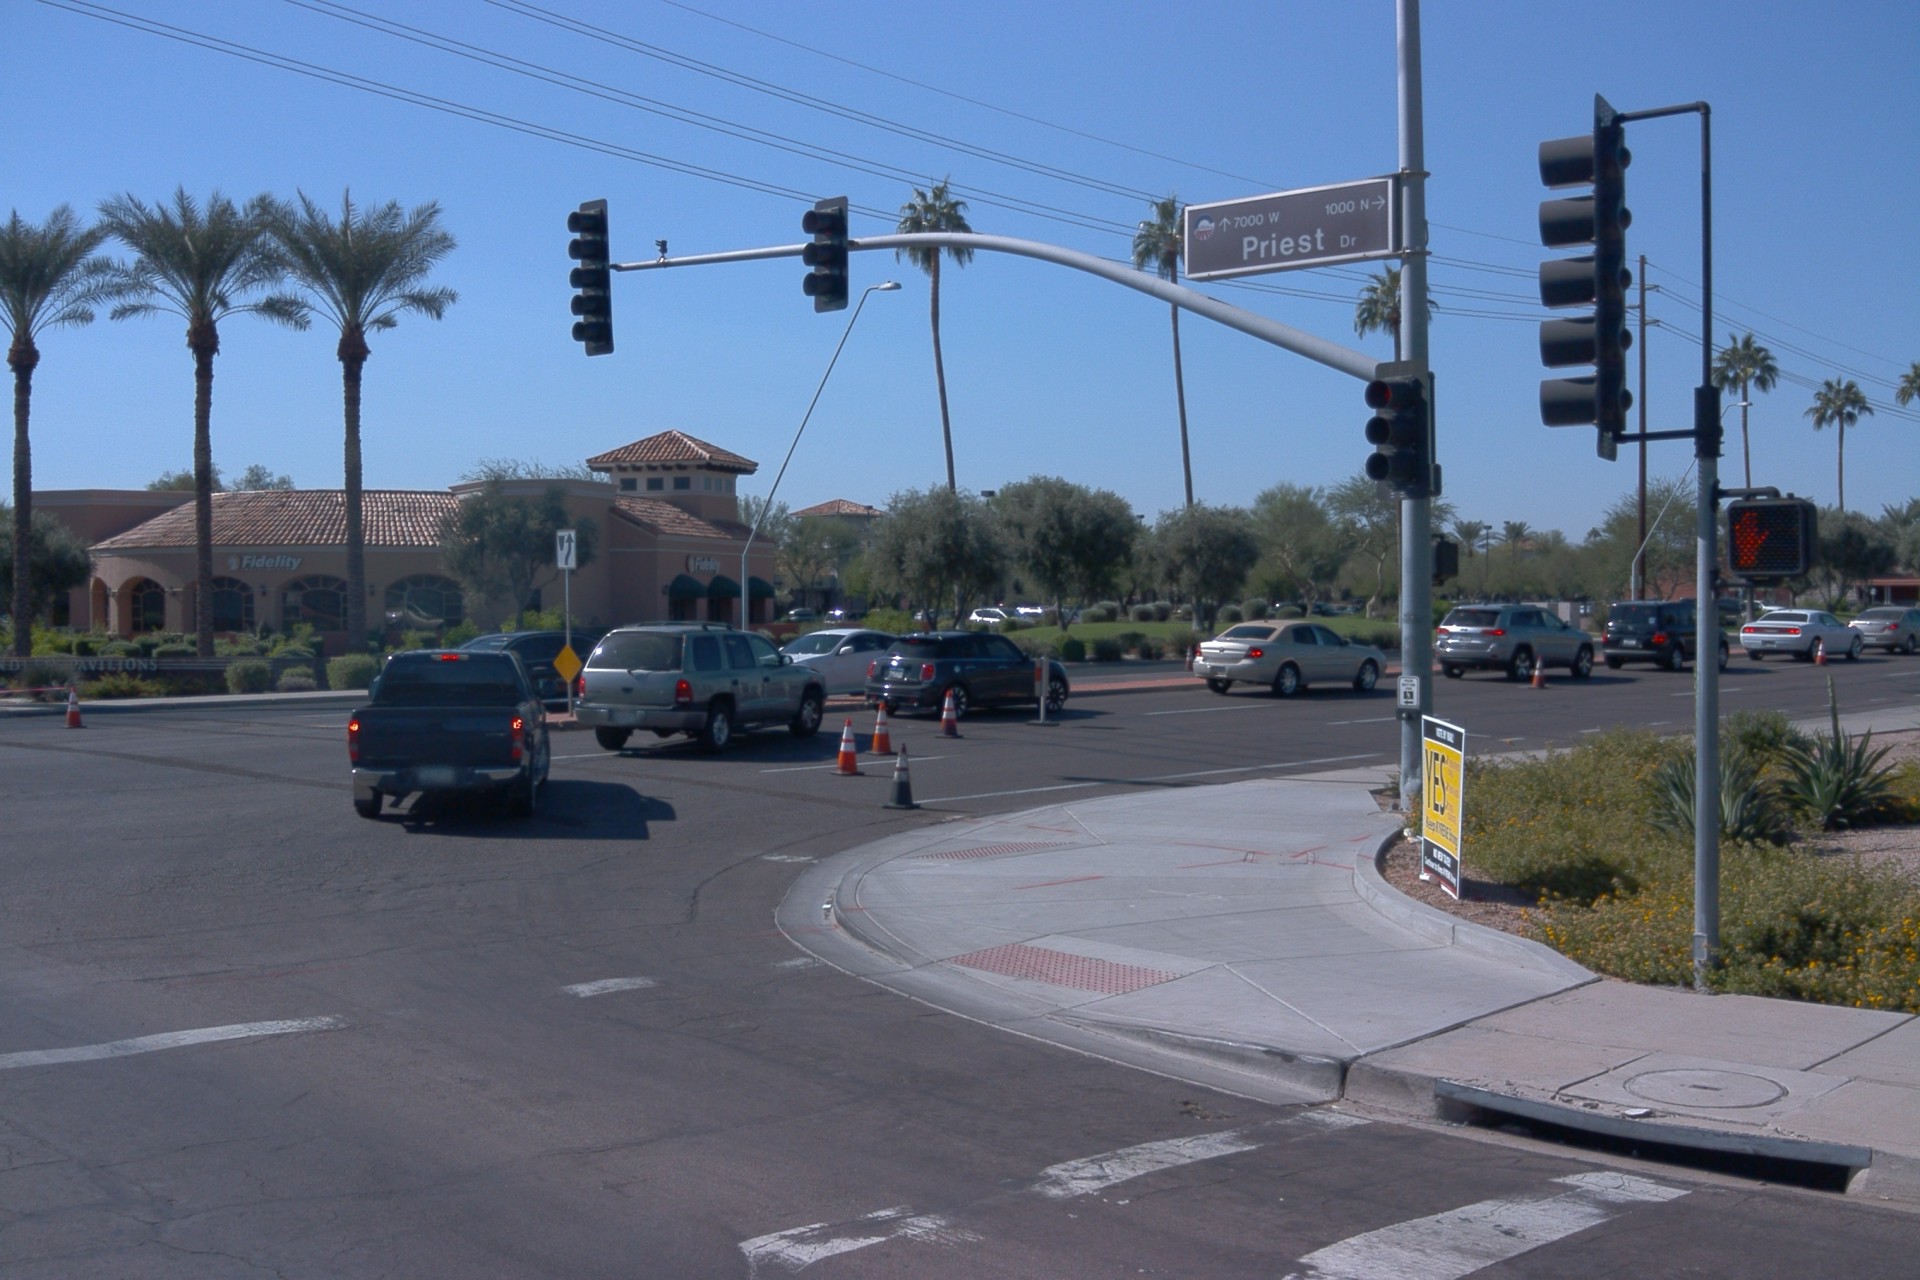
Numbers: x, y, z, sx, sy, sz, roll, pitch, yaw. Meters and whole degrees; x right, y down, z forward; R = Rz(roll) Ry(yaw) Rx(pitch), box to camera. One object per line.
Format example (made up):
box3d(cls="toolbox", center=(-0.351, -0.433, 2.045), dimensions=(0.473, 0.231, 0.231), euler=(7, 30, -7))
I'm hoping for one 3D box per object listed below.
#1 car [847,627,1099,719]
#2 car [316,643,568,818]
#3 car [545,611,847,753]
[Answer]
box3d(cls="car", center=(0.284, 0.556, 35.767), dimensions=(1.931, 1.480, 4.287), euler=(1, 0, 43))
box3d(cls="car", center=(-5.336, 0.867, 22.008), dimensions=(2.147, 1.630, 4.952), euler=(1, 0, -9))
box3d(cls="car", center=(-3.655, 0.567, 29.781), dimensions=(2.175, 1.830, 4.919), euler=(1, 0, 21))
